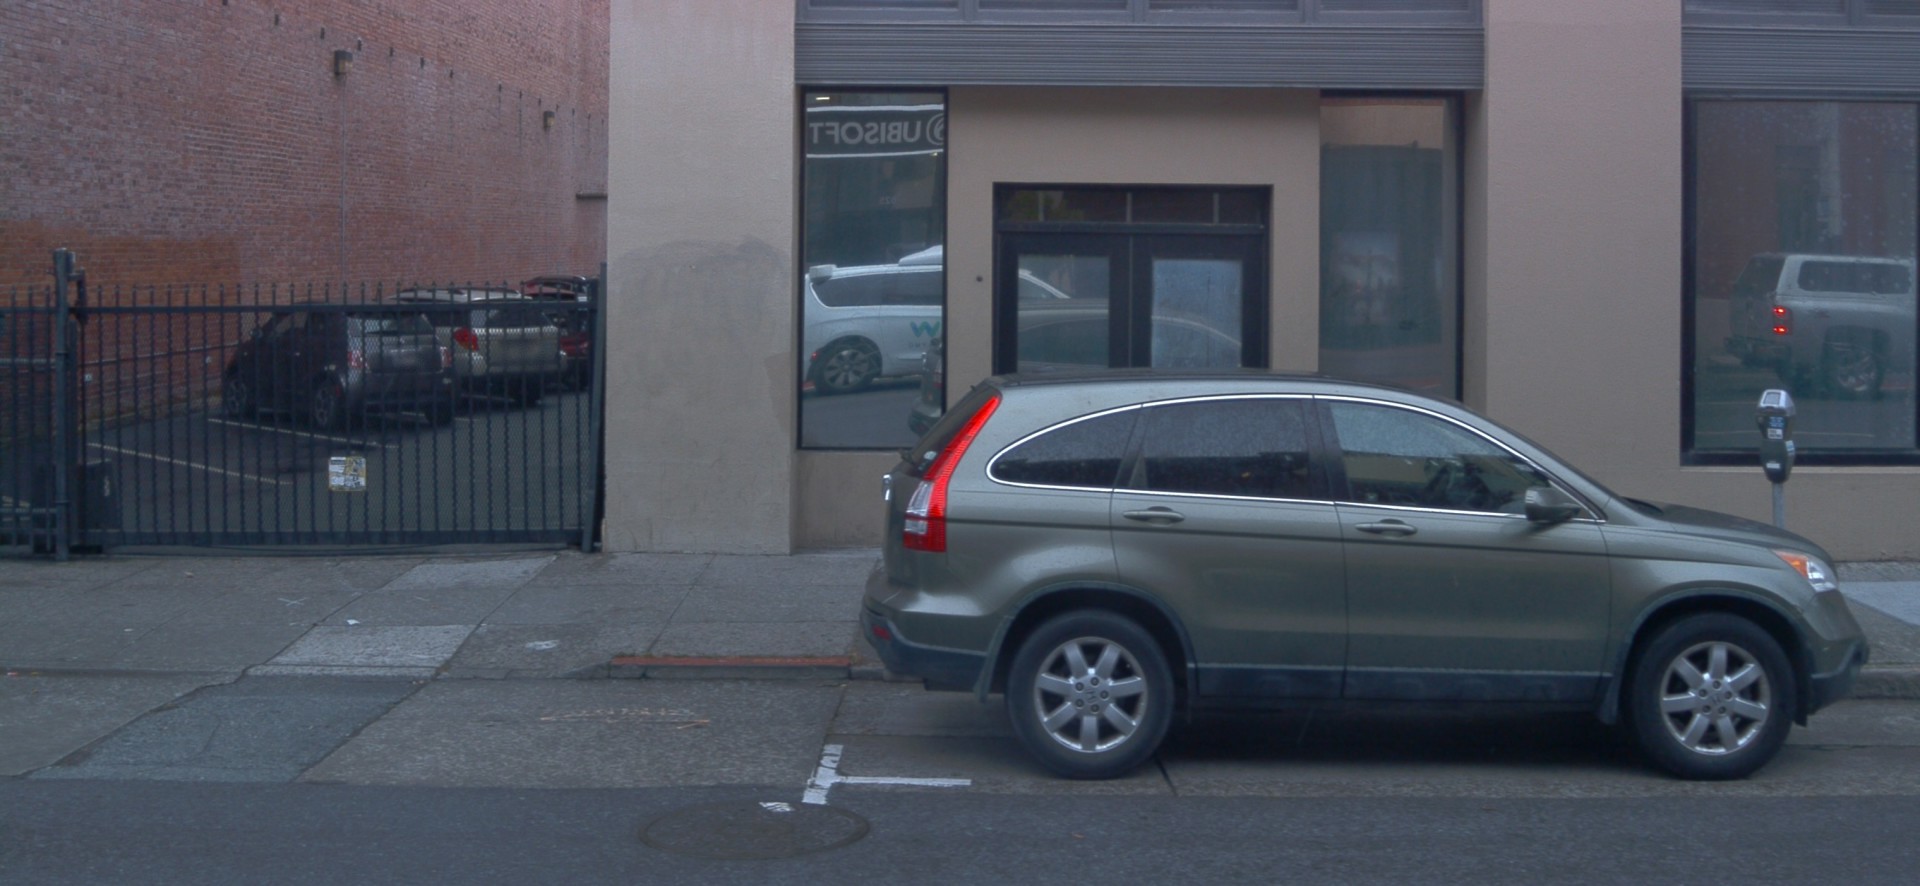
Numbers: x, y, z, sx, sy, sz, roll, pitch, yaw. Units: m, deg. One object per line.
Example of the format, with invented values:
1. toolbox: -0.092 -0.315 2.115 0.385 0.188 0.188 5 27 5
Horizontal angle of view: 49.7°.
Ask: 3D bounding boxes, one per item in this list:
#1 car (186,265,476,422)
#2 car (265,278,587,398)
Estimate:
1. car: -7.672 -1.276 25.150 3.694 1.676 1.797 5 6 44
2. car: -7.433 -1.514 28.654 4.644 1.395 1.983 5 6 40
